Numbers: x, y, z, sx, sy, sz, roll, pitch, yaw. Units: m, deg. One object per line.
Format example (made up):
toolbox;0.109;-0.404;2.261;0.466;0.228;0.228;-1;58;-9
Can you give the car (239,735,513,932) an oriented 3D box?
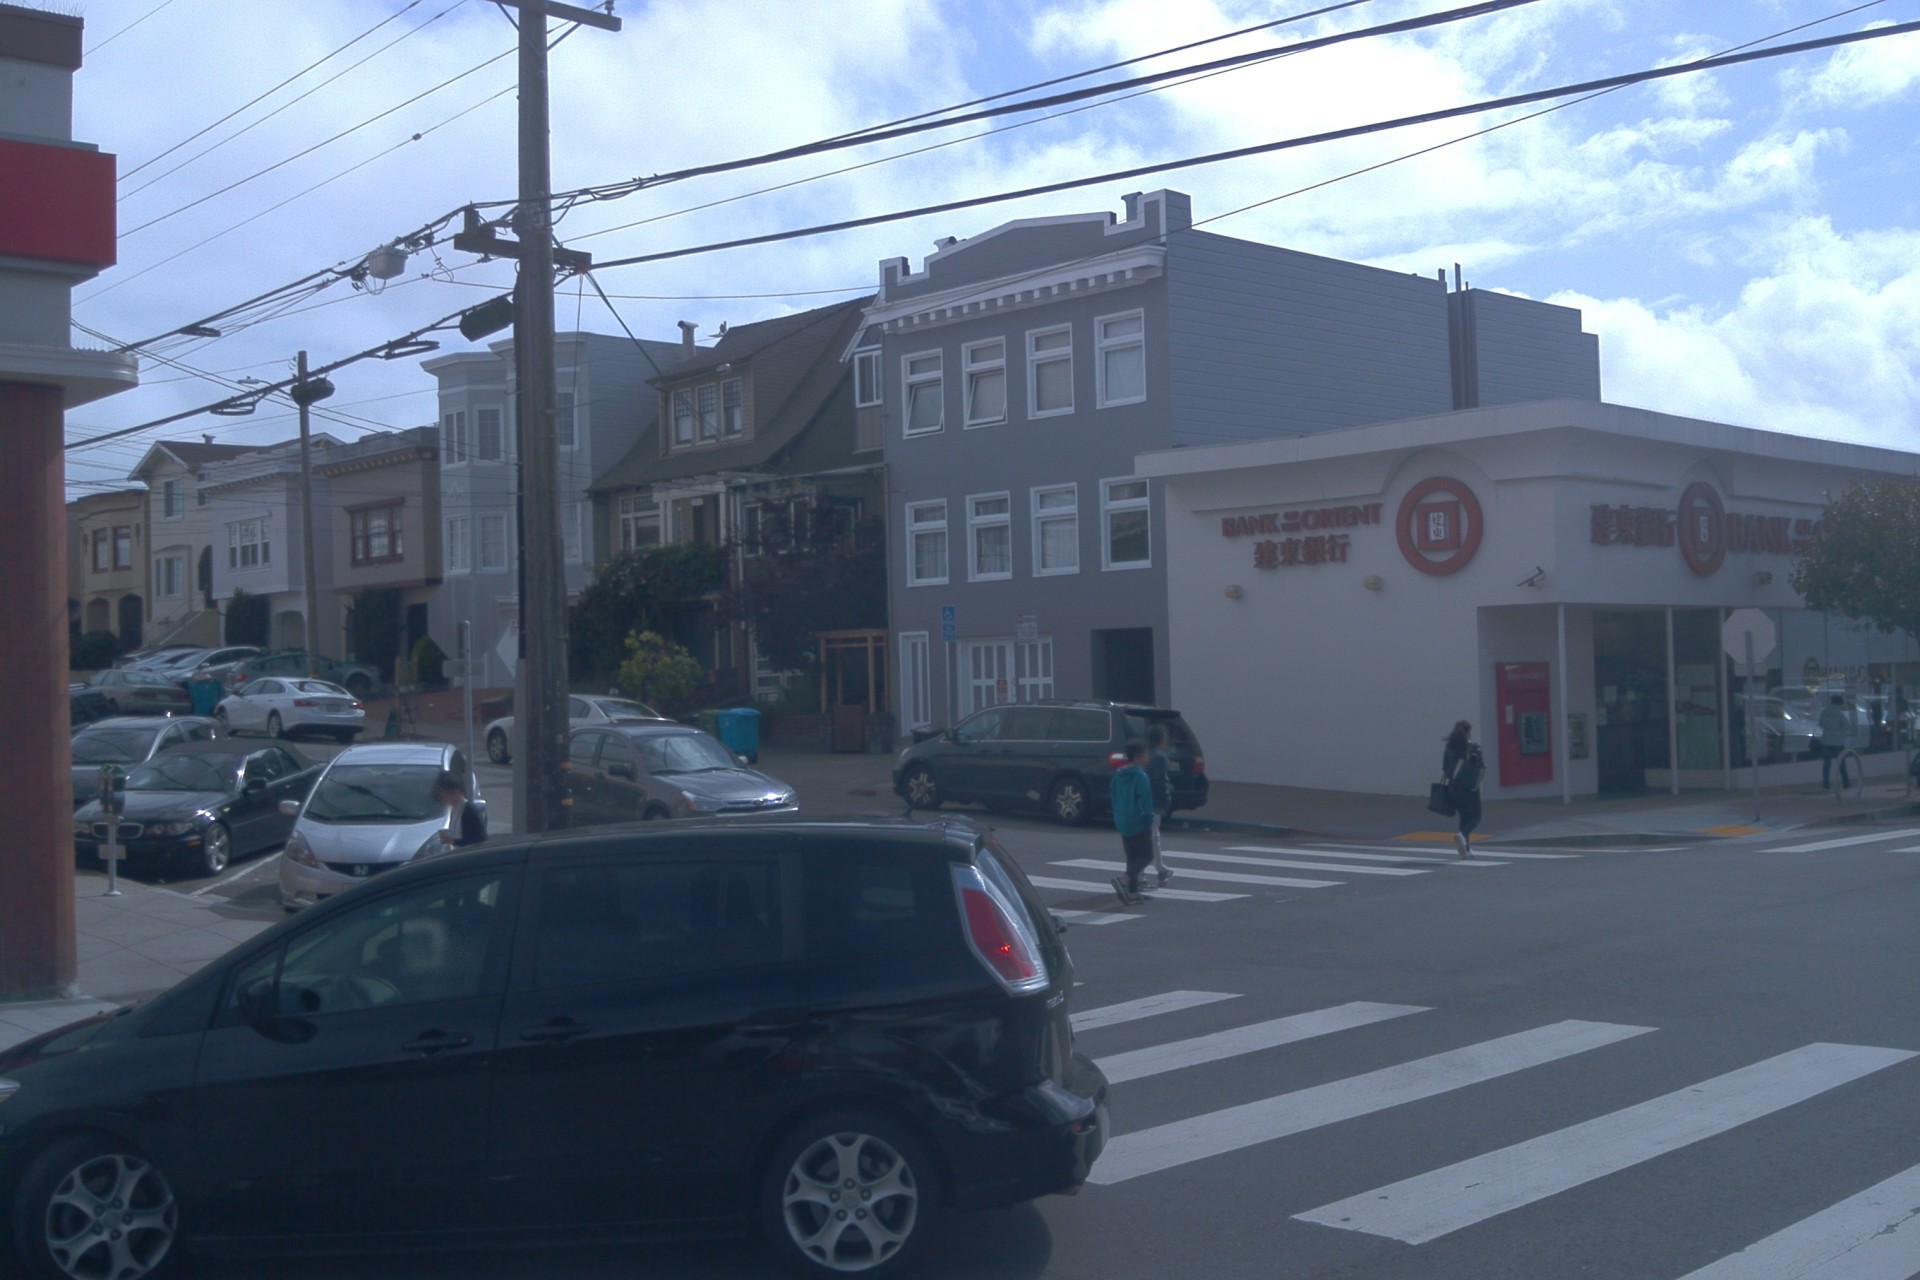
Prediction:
car;-5.912;1.901;21.571;2.094;1.641;4.188;0;0;-7

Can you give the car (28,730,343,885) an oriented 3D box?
car;-8.972;1.895;24.508;1.823;1.481;4.202;0;0;5

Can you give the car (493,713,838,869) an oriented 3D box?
car;-3.696;1.768;25.564;2.068;1.587;4.401;0;0;-43

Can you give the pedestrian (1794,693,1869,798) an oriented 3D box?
pedestrian;14.238;1.710;33.985;0.943;1.643;0.781;0;0;-40

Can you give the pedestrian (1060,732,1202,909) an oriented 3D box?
pedestrian;1.584;1.646;19.282;1.131;1.532;0.720;0;0;-39

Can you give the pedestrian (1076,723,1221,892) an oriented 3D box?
pedestrian;1.875;1.631;20.623;1.303;1.566;0.765;0;0;-44

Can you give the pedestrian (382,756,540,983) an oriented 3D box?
pedestrian;-4.094;1.853;17.085;0.763;1.722;1.014;0;0;45

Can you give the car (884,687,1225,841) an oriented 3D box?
car;1.288;1.709;30.169;2.133;1.937;4.769;0;0;-44

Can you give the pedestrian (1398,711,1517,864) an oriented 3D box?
pedestrian;5.652;1.650;23.628;0.985;1.653;0.948;0;0;43
